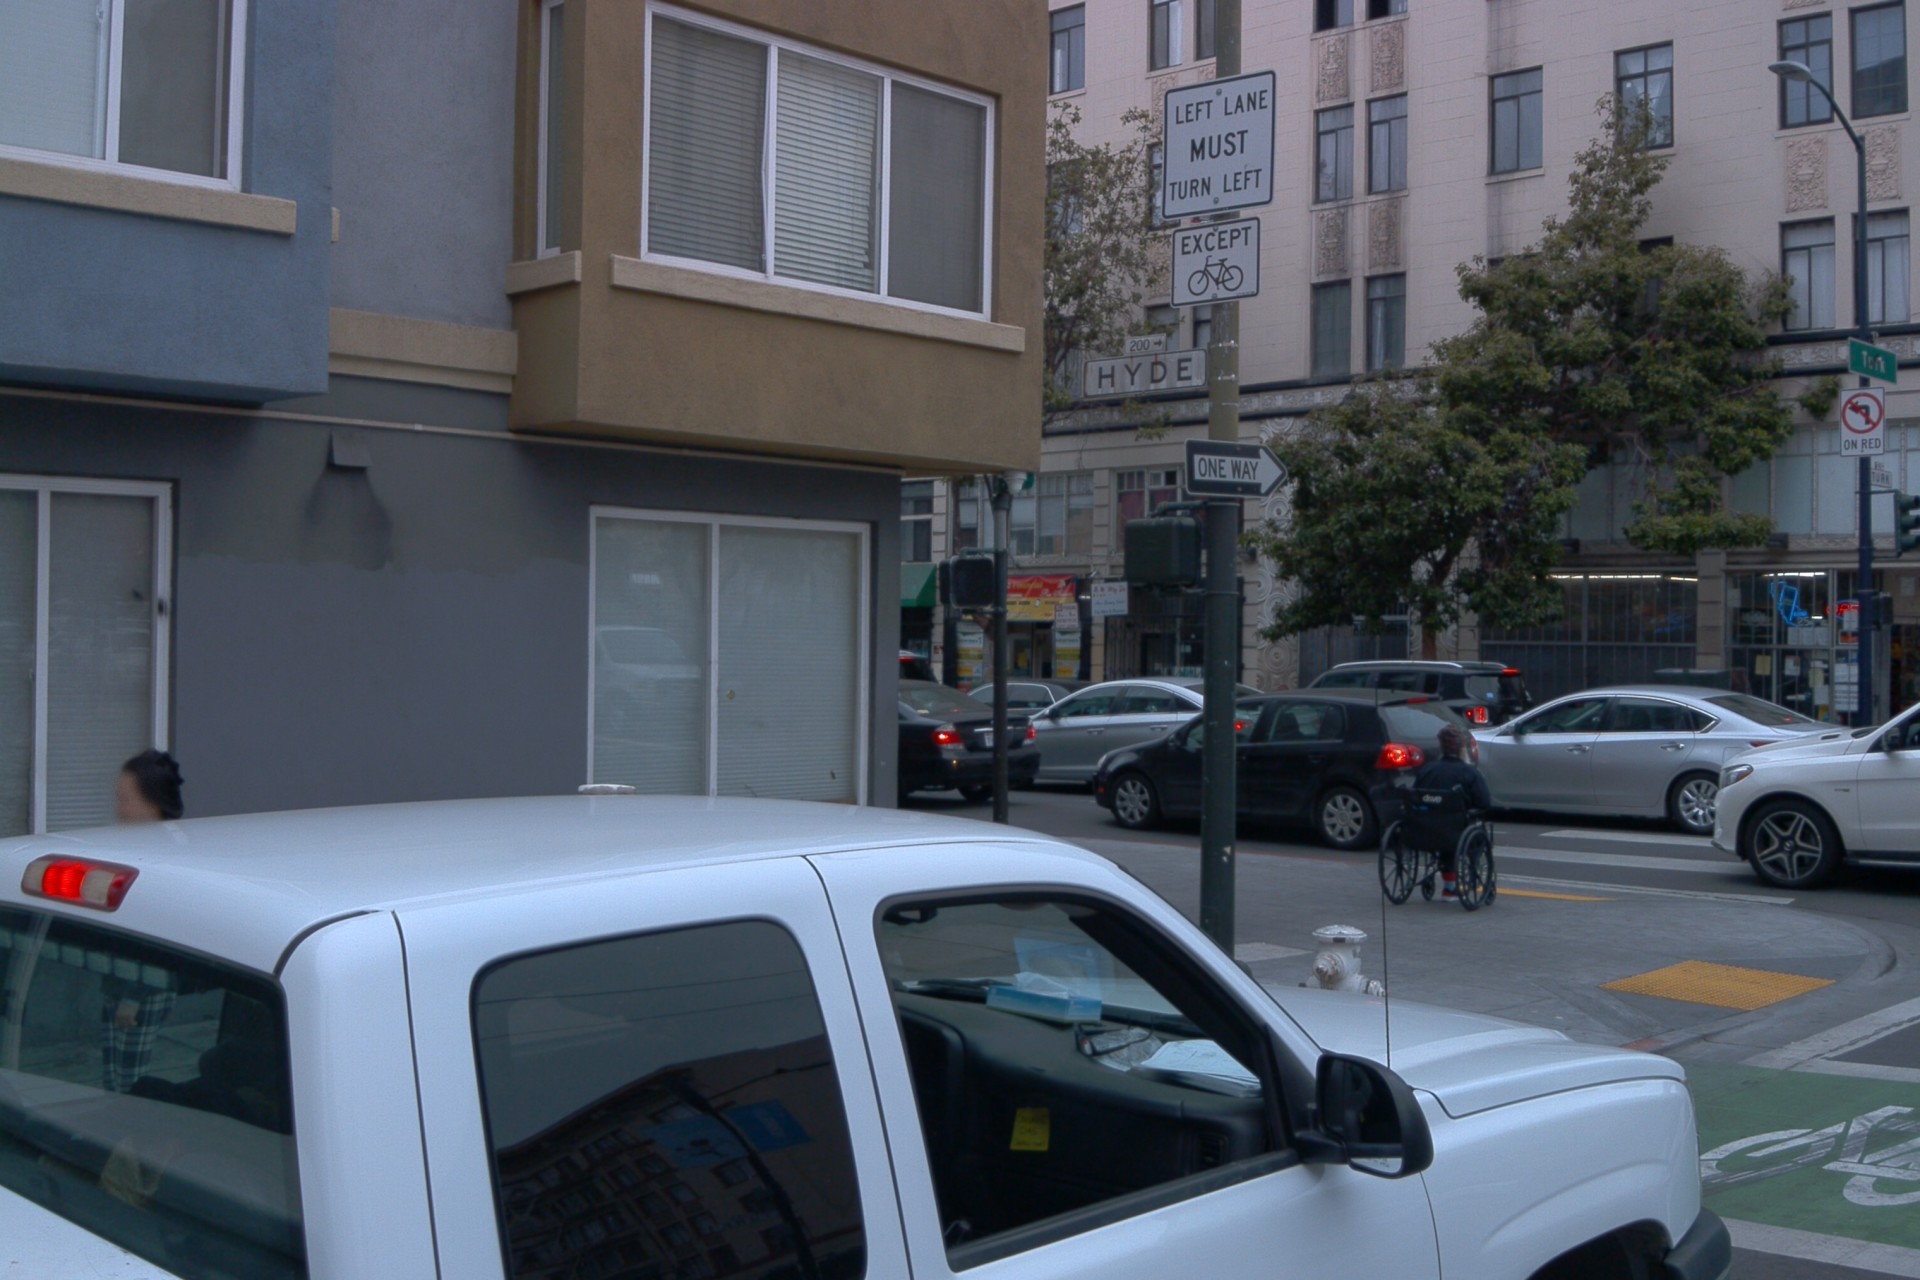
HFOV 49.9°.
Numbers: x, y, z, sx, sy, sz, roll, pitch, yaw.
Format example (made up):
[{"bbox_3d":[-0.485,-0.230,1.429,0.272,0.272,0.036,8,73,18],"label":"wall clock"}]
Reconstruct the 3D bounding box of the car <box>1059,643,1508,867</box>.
[{"bbox_3d":[3.181,1.052,20.883,1.871,1.950,4.194,-1,1,-45],"label":"car"}]

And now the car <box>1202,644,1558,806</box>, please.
[{"bbox_3d":[5.451,1.037,27.138,1.925,1.870,4.231,-1,1,-45],"label":"car"}]

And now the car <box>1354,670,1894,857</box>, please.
[{"bbox_3d":[6.726,1.168,21.320,4.909,1.550,2.056,1,1,45],"label":"car"}]

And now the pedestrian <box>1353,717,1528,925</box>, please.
[{"bbox_3d":[3.503,1.284,15.017,0.883,1.370,1.026,1,1,38],"label":"pedestrian"}]

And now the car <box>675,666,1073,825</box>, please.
[{"bbox_3d":[-1.128,1.186,25.076,4.803,1.600,2.070,1,1,43],"label":"car"}]

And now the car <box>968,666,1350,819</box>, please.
[{"bbox_3d":[2.401,1.195,25.844,1.939,1.600,4.599,-1,1,-44],"label":"car"}]
